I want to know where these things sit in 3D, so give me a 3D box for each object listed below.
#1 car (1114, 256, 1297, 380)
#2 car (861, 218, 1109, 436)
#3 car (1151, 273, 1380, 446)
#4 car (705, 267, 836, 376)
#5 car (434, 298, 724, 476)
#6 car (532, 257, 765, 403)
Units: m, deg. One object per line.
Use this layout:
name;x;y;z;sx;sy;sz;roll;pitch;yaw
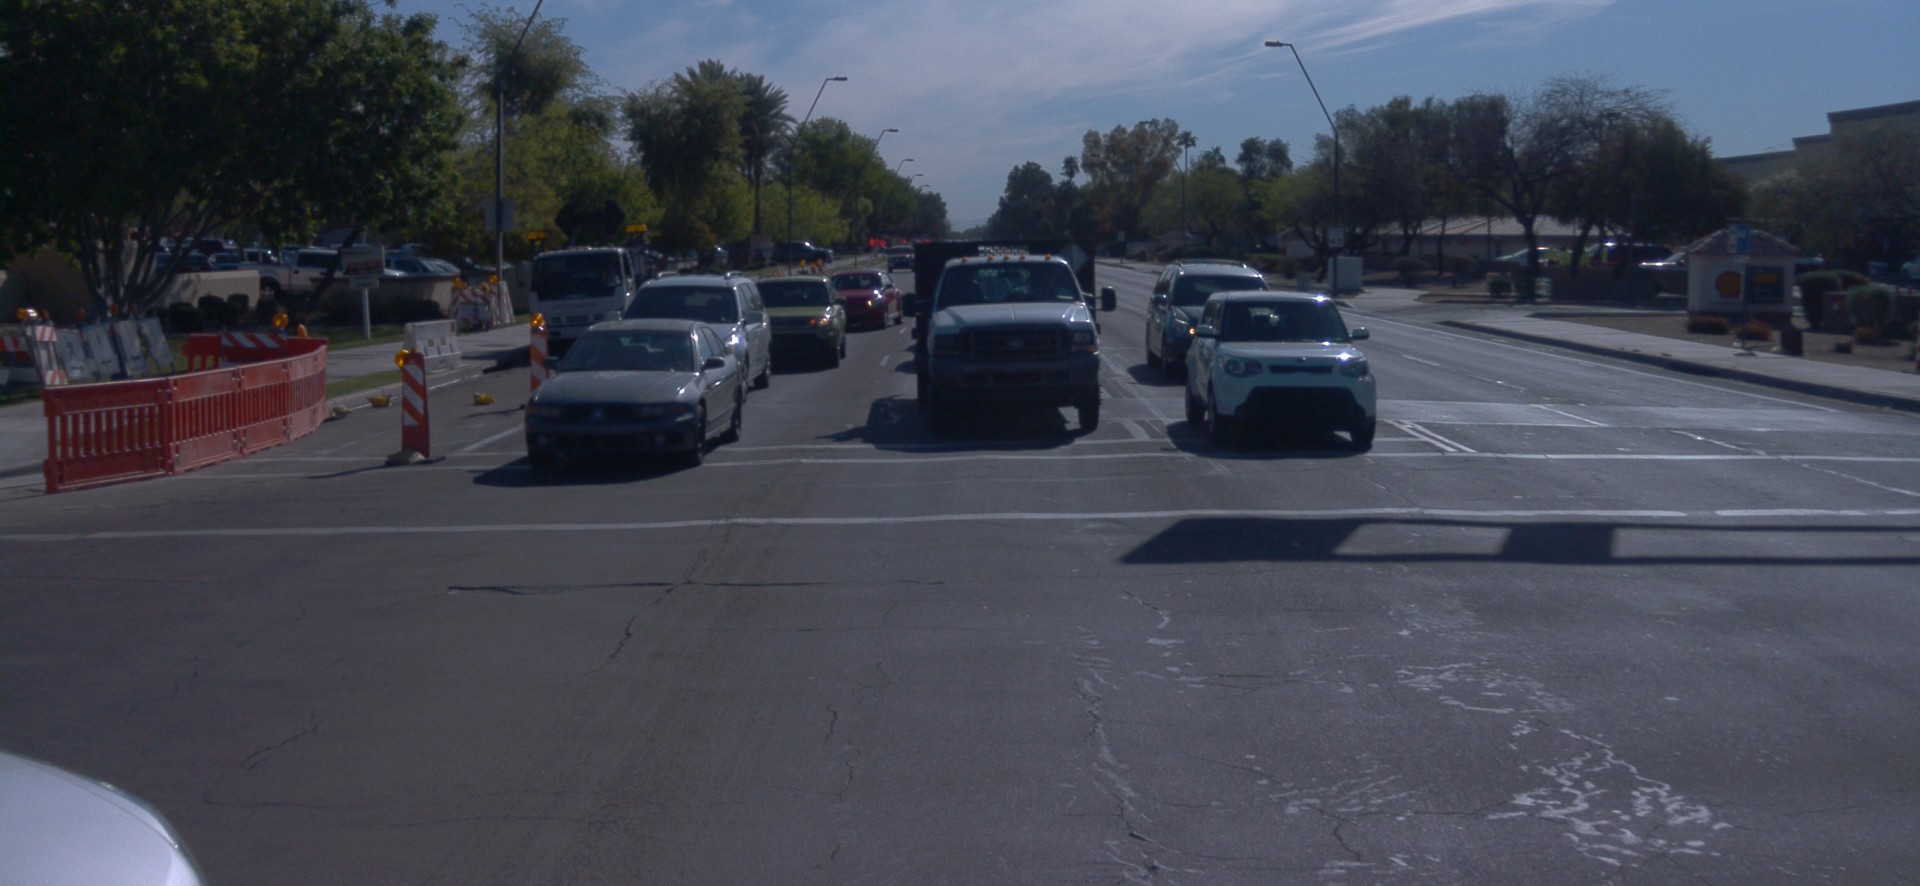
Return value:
car;3.869;-2.101;33.728;2.220;1.813;5.141;0;5;-2
car;0.286;-1.653;26.777;2.747;2.391;7.652;0;5;0
car;3.385;-1.063;23.901;2.047;1.714;4.733;0;5;1
car;-3.362;-2.265;37.660;1.946;1.784;4.636;0;5;0
car;-3.810;-0.682;21.676;2.047;1.514;4.733;0;5;1
car;-4.339;-1.718;29.922;2.419;1.873;5.332;0;5;1
